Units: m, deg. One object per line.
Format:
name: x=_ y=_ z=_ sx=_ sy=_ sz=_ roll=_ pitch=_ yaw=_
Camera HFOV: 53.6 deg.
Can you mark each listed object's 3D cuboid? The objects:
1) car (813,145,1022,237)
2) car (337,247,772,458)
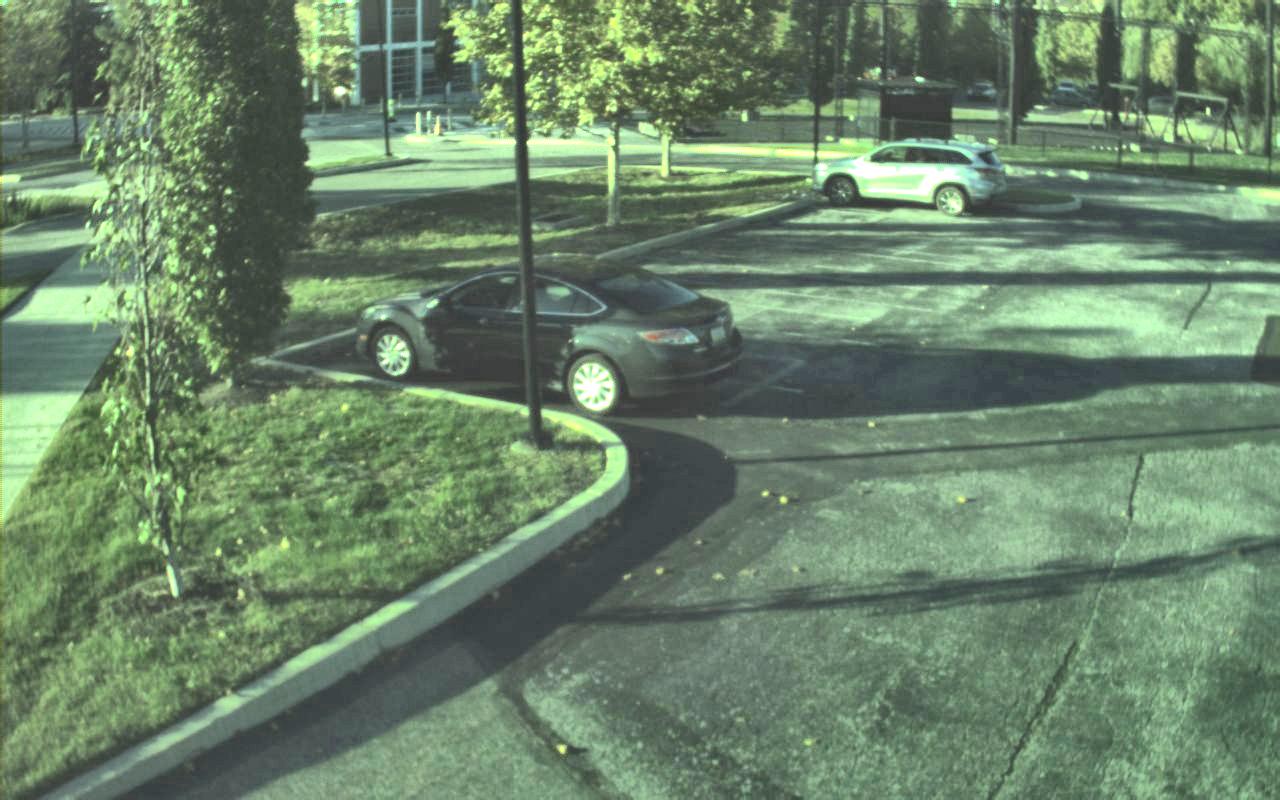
car: x=6.809 y=-5.144 z=30.062 sx=4.803 sy=1.793 sz=2.057 roll=7 pitch=17 yaw=27
car: x=-1.034 y=-0.697 z=14.312 sx=4.645 sy=1.562 sz=1.981 roll=8 pitch=17 yaw=29
